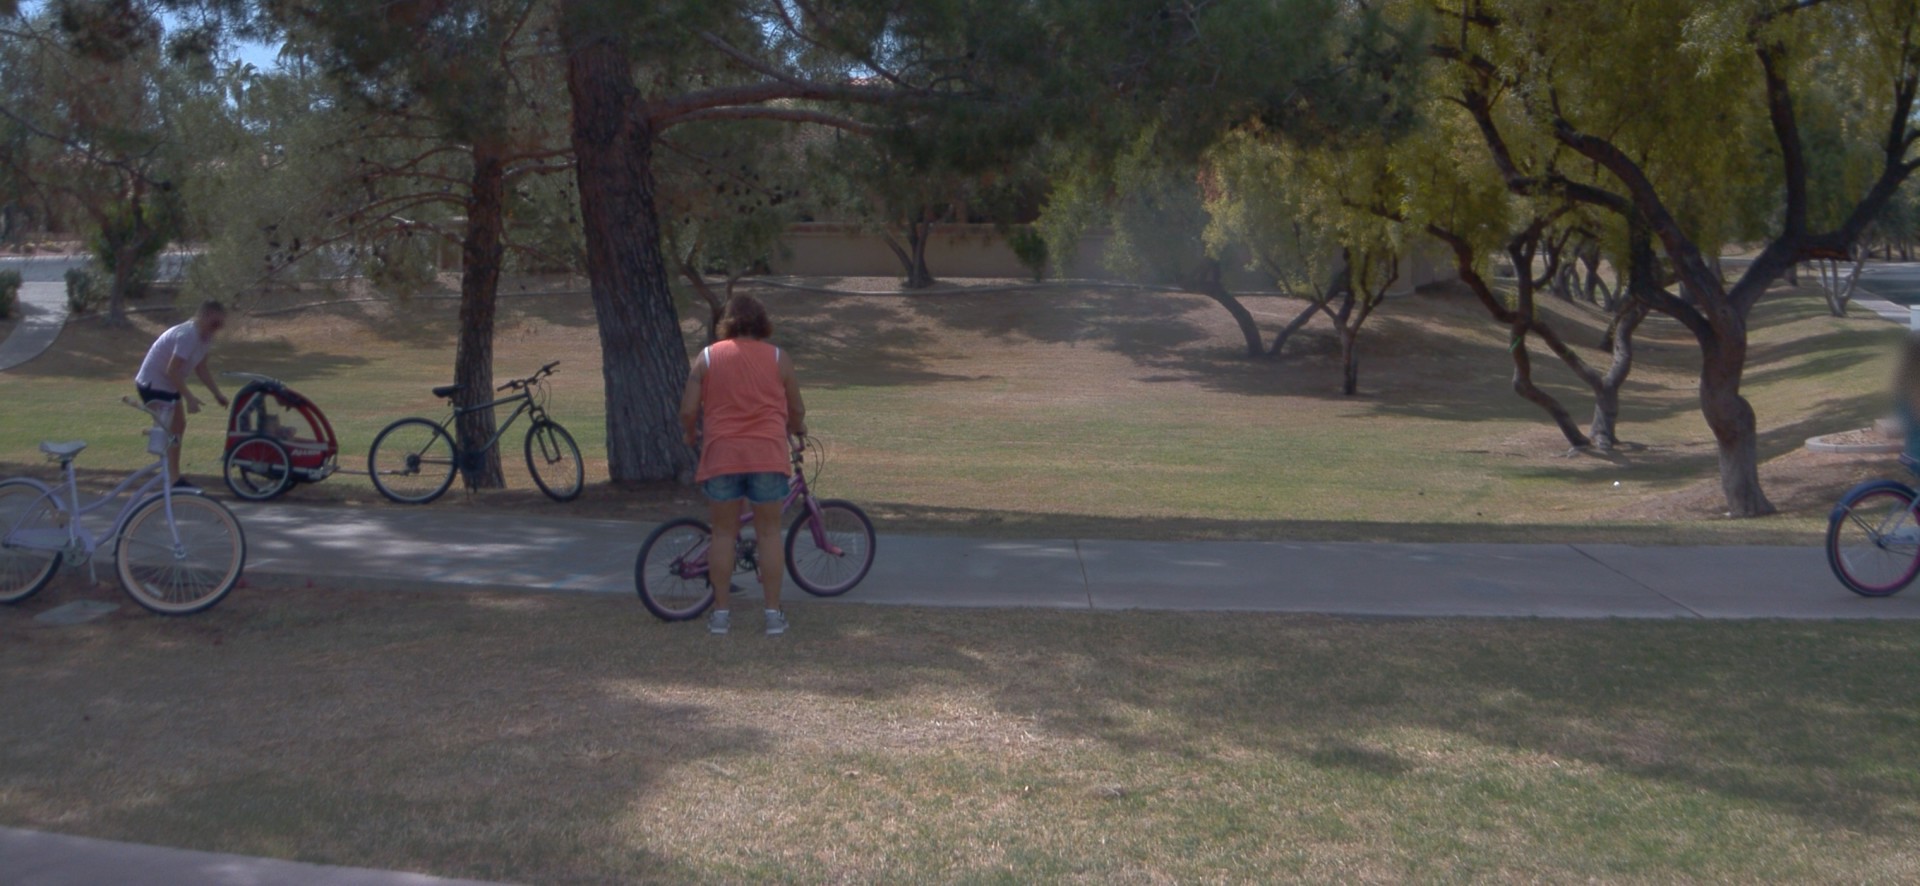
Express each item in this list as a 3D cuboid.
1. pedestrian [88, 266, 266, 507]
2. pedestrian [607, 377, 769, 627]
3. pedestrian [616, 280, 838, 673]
[{"bbox_3d":[-5.794,-0.451,15.416,0.899,1.712,0.834,0,0,24],"label":"pedestrian"},{"bbox_3d":[-1.413,0.276,10.748,0.599,1.181,0.730,0,1,-29],"label":"pedestrian"},{"bbox_3d":[-1.117,0.100,9.809,0.895,1.722,1.037,0,1,-15],"label":"pedestrian"}]
